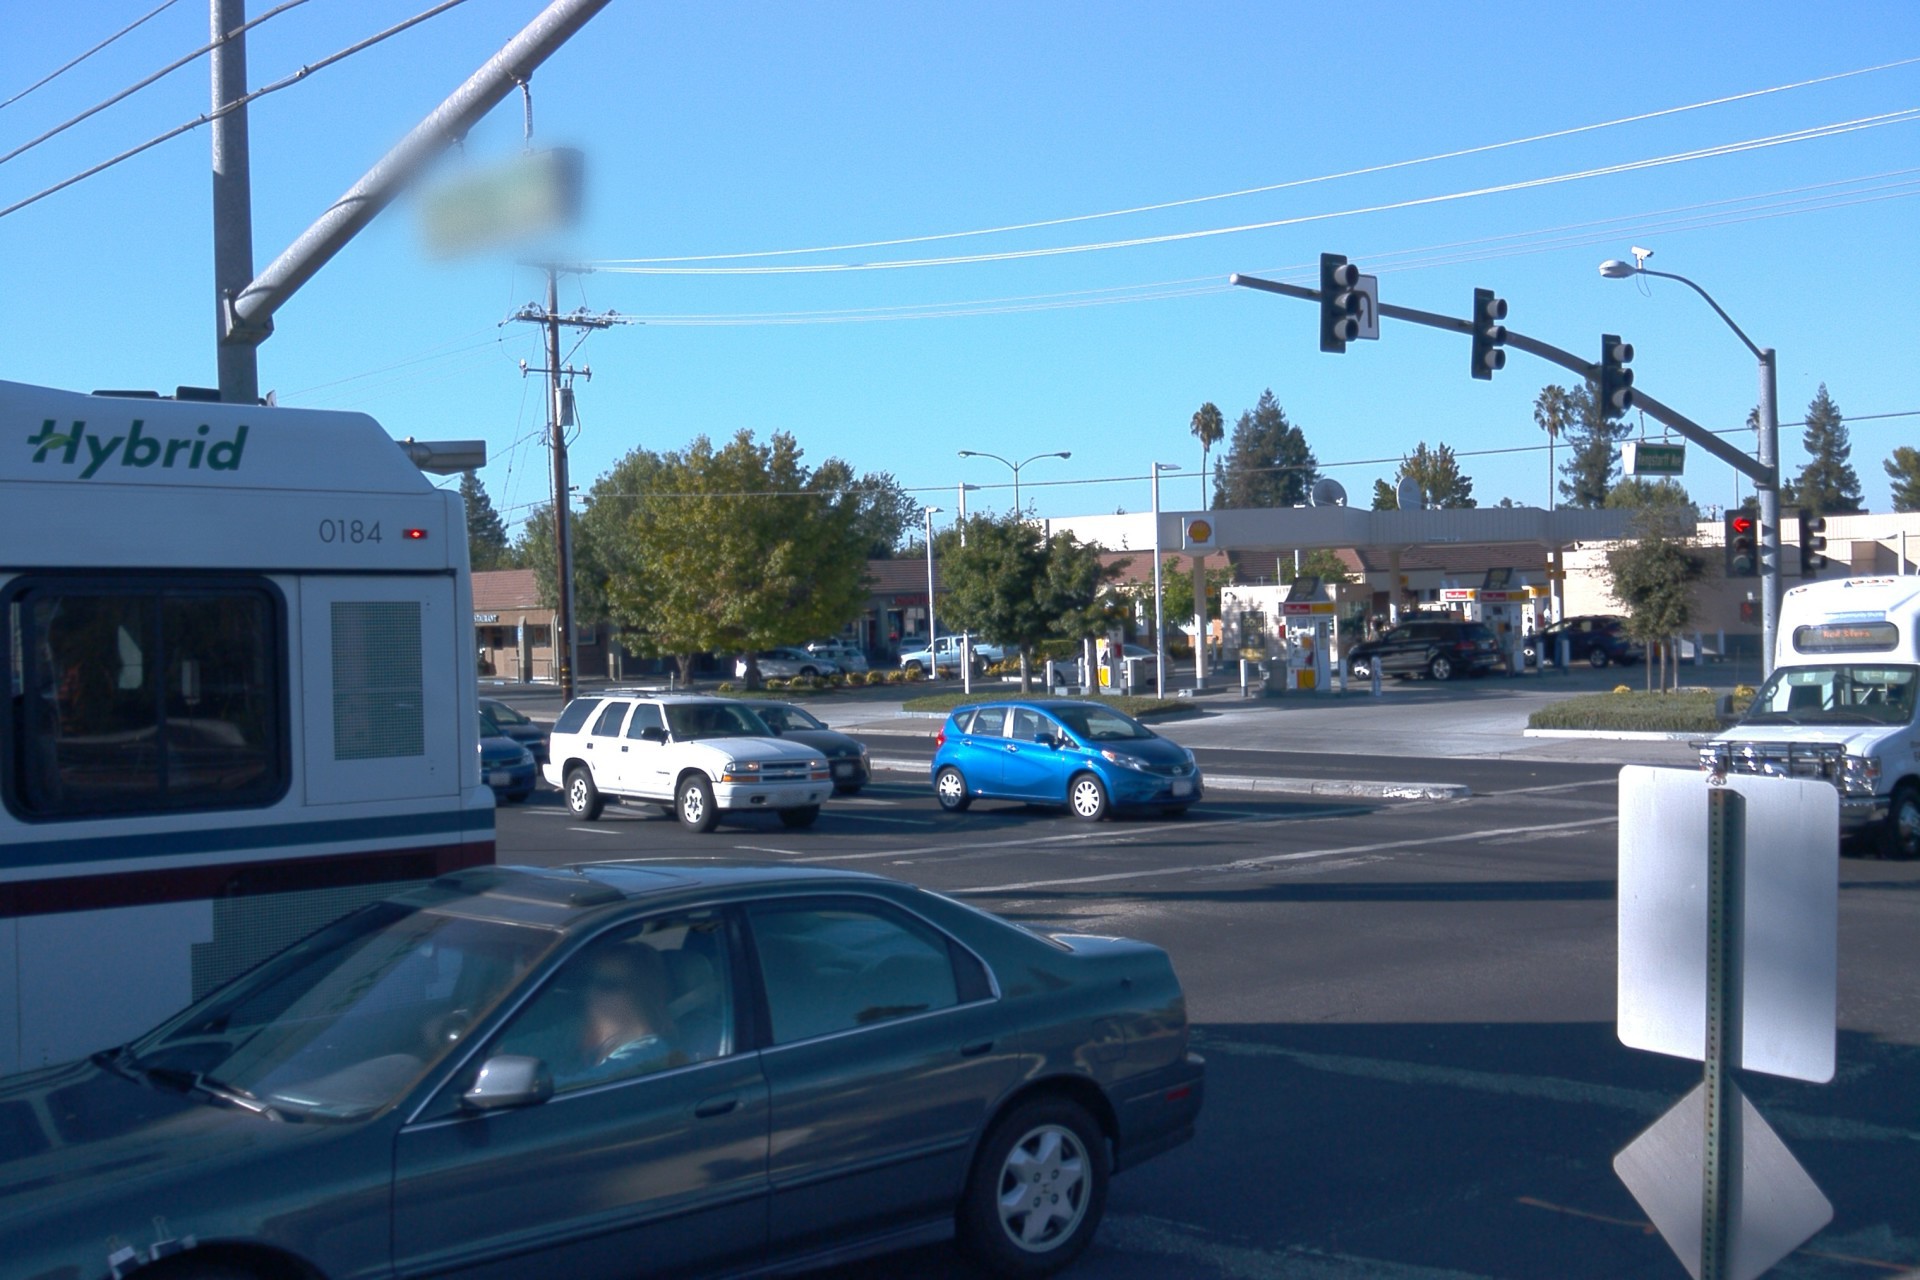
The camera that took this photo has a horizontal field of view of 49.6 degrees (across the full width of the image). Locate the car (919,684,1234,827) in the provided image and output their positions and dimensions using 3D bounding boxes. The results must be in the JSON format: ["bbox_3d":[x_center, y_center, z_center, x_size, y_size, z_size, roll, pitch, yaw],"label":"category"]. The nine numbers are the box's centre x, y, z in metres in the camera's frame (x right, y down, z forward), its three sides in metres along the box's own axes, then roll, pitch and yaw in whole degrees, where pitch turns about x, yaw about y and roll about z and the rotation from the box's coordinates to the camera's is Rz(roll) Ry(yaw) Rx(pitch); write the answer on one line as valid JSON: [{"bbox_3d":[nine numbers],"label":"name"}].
[{"bbox_3d":[1.469,1.454,27.478,1.793,1.670,4.087,1,-1,-42],"label":"car"}]

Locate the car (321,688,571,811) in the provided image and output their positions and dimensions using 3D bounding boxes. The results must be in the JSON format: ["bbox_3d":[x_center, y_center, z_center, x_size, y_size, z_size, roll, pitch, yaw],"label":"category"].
[{"bbox_3d":[-7.943,1.608,31.854,2.086,1.670,4.293,1,0,-39],"label":"car"}]

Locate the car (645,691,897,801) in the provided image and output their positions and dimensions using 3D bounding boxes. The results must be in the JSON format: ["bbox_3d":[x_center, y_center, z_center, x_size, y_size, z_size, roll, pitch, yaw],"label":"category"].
[{"bbox_3d":[-3.020,1.596,32.479,1.820,1.520,4.190,1,0,-41],"label":"car"}]

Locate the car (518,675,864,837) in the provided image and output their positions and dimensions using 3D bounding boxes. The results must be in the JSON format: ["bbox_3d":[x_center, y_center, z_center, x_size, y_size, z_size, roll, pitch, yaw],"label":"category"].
[{"bbox_3d":[-3.563,1.401,26.793,2.110,1.830,4.847,1,0,-41],"label":"car"}]
